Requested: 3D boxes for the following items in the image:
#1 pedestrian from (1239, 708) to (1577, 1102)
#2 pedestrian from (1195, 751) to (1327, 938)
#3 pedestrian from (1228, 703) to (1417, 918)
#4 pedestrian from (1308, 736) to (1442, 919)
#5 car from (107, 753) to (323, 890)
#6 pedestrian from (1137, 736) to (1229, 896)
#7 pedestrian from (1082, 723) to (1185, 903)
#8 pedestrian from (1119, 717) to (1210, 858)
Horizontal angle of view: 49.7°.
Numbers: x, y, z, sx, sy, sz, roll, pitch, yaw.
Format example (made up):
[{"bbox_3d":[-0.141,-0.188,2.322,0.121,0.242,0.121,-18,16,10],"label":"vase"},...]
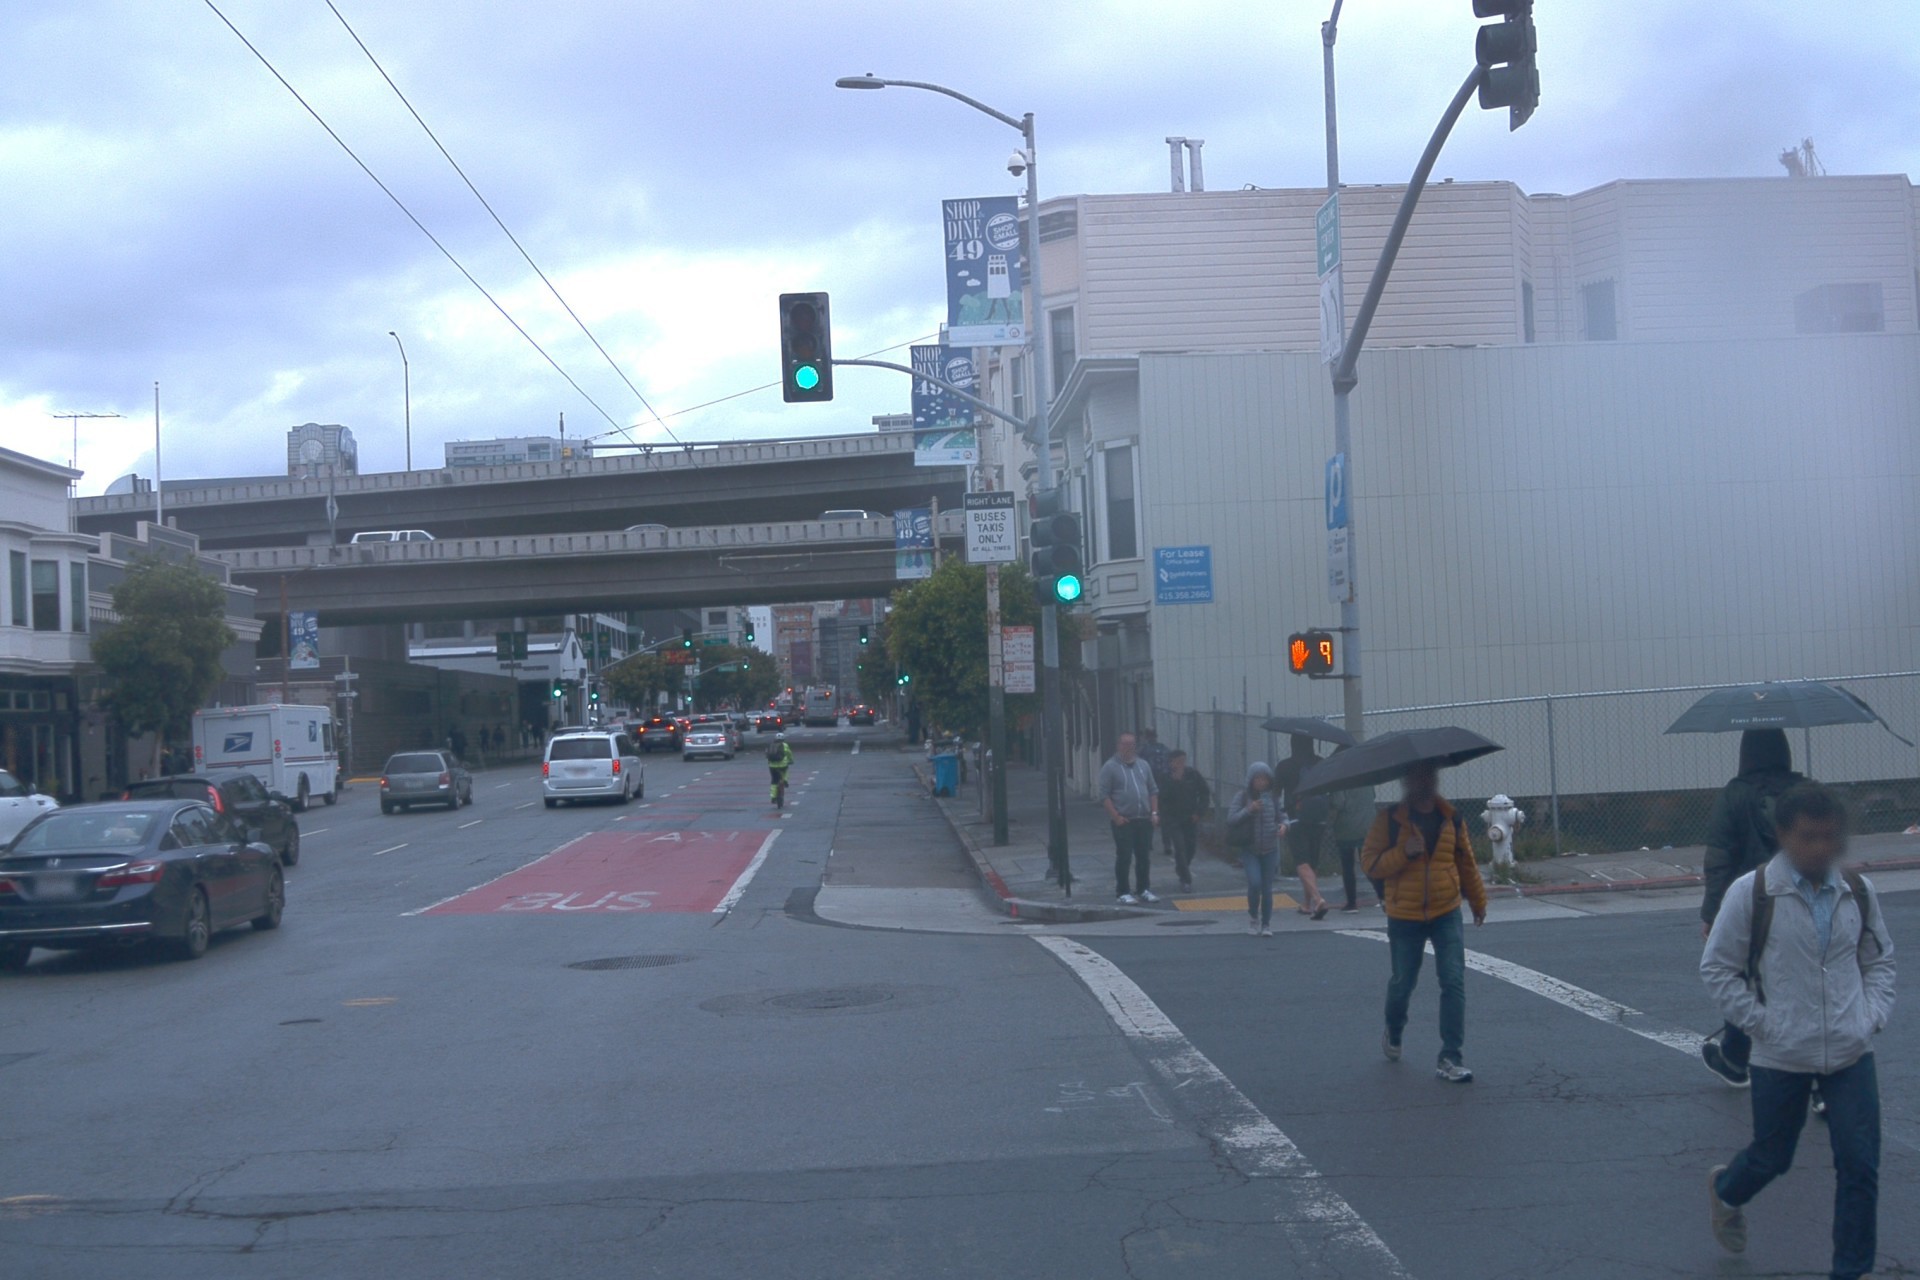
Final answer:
[{"bbox_3d":[2.177,1.251,10.314,1.299,1.790,1.323,0,-1,-5],"label":"pedestrian"},{"bbox_3d":[2.632,1.775,18.251,1.000,1.560,1.000,0,-1,-1],"label":"pedestrian"},{"bbox_3d":[3.536,1.632,20.384,1.410,1.988,1.525,0,-1,-9],"label":"pedestrian"},{"bbox_3d":[4.049,1.808,20.310,0.990,1.692,1.085,0,-1,-7],"label":"pedestrian"},{"bbox_3d":[-11.121,2.666,31.248,1.912,1.751,4.149,0,-1,-2],"label":"car"},{"bbox_3d":[2.442,1.918,22.812,0.810,1.680,1.024,0,-1,-5],"label":"pedestrian"},{"bbox_3d":[1.827,1.804,21.888,0.843,1.837,0.755,0,-1,-18],"label":"pedestrian"},{"bbox_3d":[2.696,1.934,27.435,1.011,1.790,1.088,0,-1,-5],"label":"pedestrian"}]
